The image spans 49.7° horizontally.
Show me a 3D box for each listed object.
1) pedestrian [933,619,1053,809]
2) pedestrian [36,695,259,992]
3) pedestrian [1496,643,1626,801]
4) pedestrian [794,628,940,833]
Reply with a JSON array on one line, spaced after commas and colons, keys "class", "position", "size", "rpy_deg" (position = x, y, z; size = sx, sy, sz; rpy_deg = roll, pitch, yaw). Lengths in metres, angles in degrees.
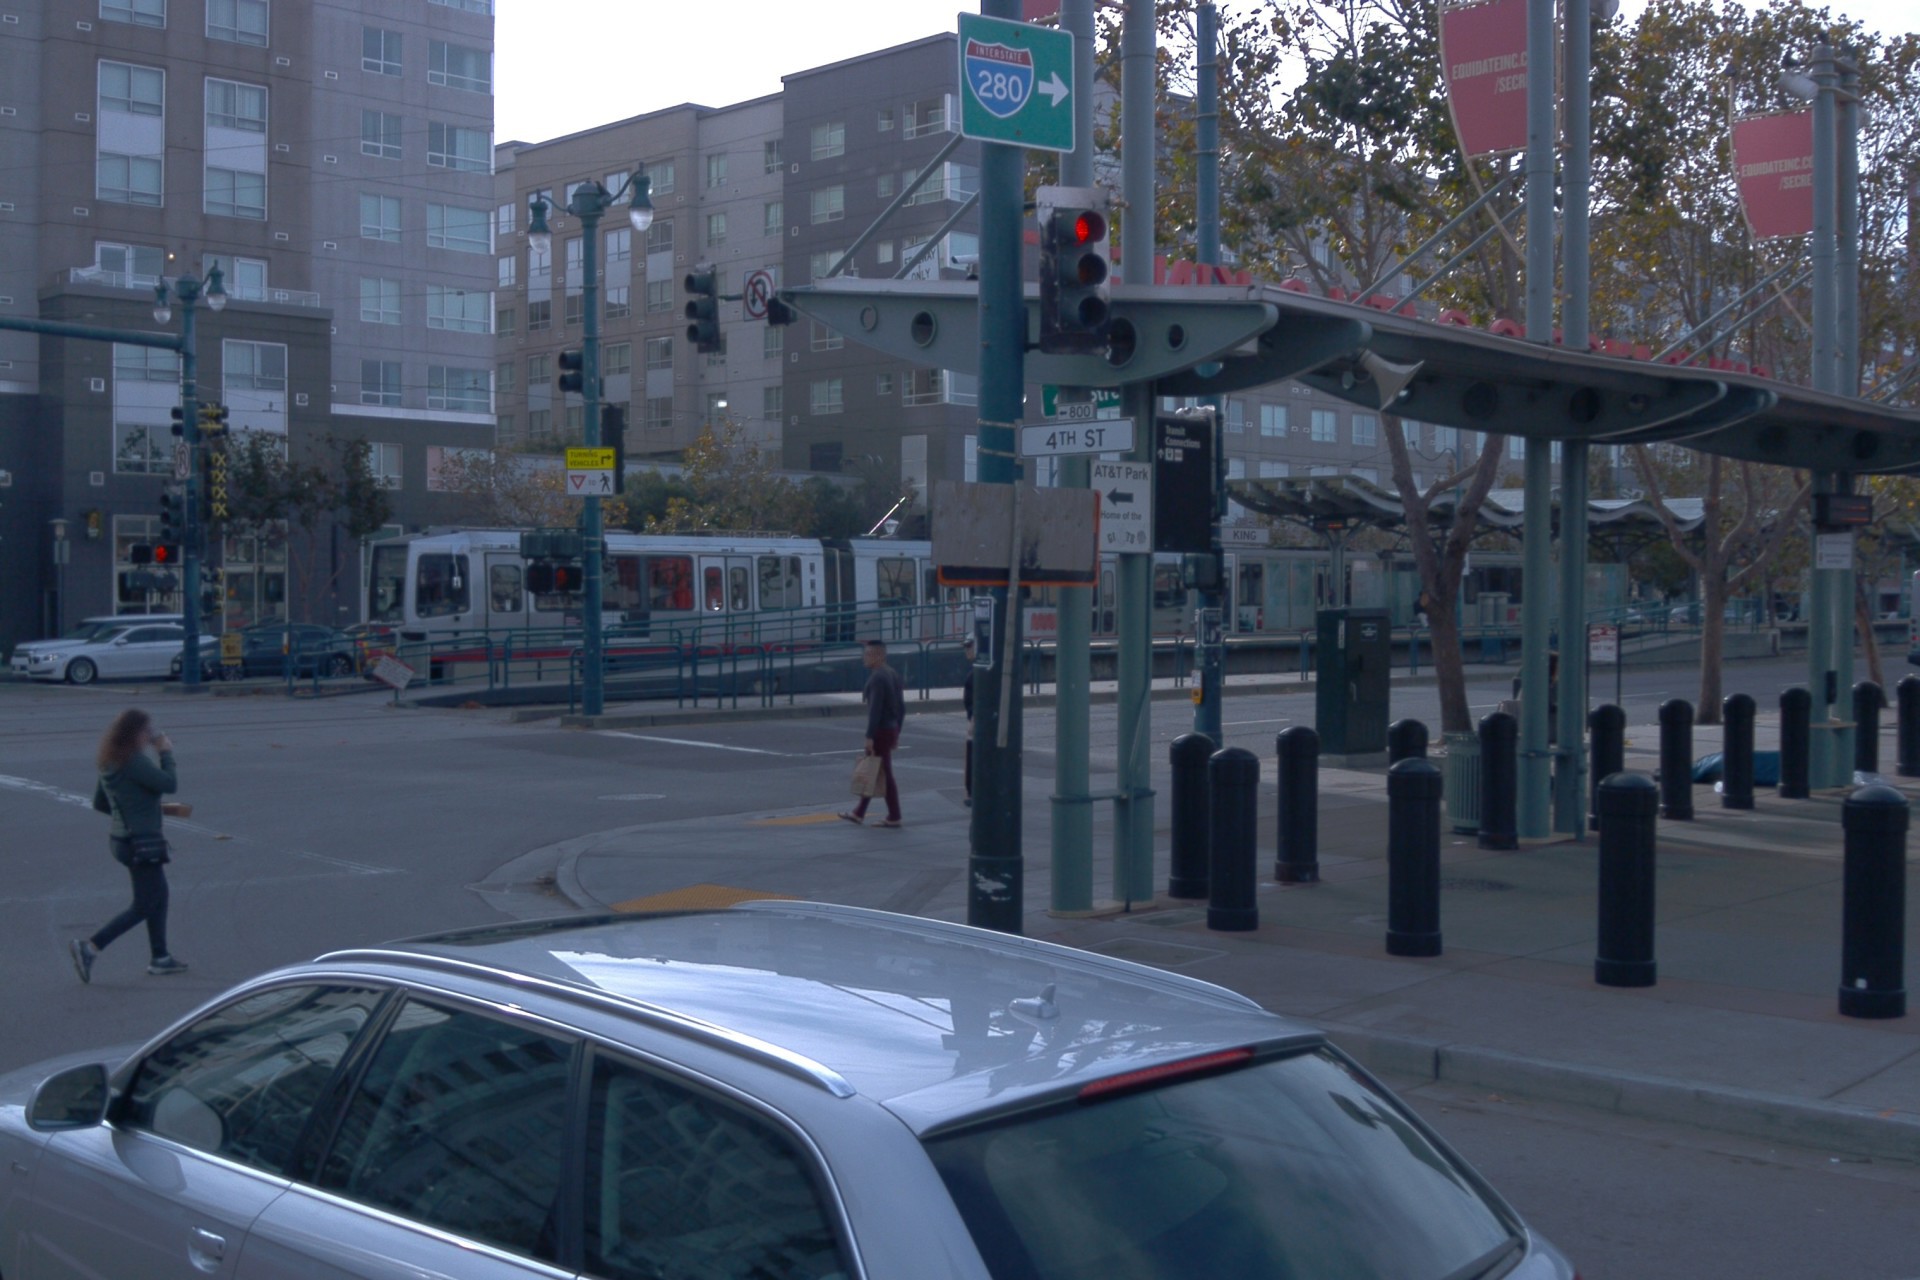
[{"class": "pedestrian", "position": [0.337, 0.726, 20.870], "size": [0.867, 1.858, 0.865], "rpy_deg": [1, 0, 31]}, {"class": "pedestrian", "position": [-4.795, 1.160, 12.242], "size": [0.678, 1.642, 1.016], "rpy_deg": [1, 0, 45]}, {"class": "pedestrian", "position": [6.335, 0.843, 21.911], "size": [1.218, 1.605, 1.169], "rpy_deg": [1, 0, 12]}, {"class": "pedestrian", "position": [-0.845, 0.806, 19.016], "size": [0.980, 1.819, 0.928], "rpy_deg": [1, 0, 26]}]
